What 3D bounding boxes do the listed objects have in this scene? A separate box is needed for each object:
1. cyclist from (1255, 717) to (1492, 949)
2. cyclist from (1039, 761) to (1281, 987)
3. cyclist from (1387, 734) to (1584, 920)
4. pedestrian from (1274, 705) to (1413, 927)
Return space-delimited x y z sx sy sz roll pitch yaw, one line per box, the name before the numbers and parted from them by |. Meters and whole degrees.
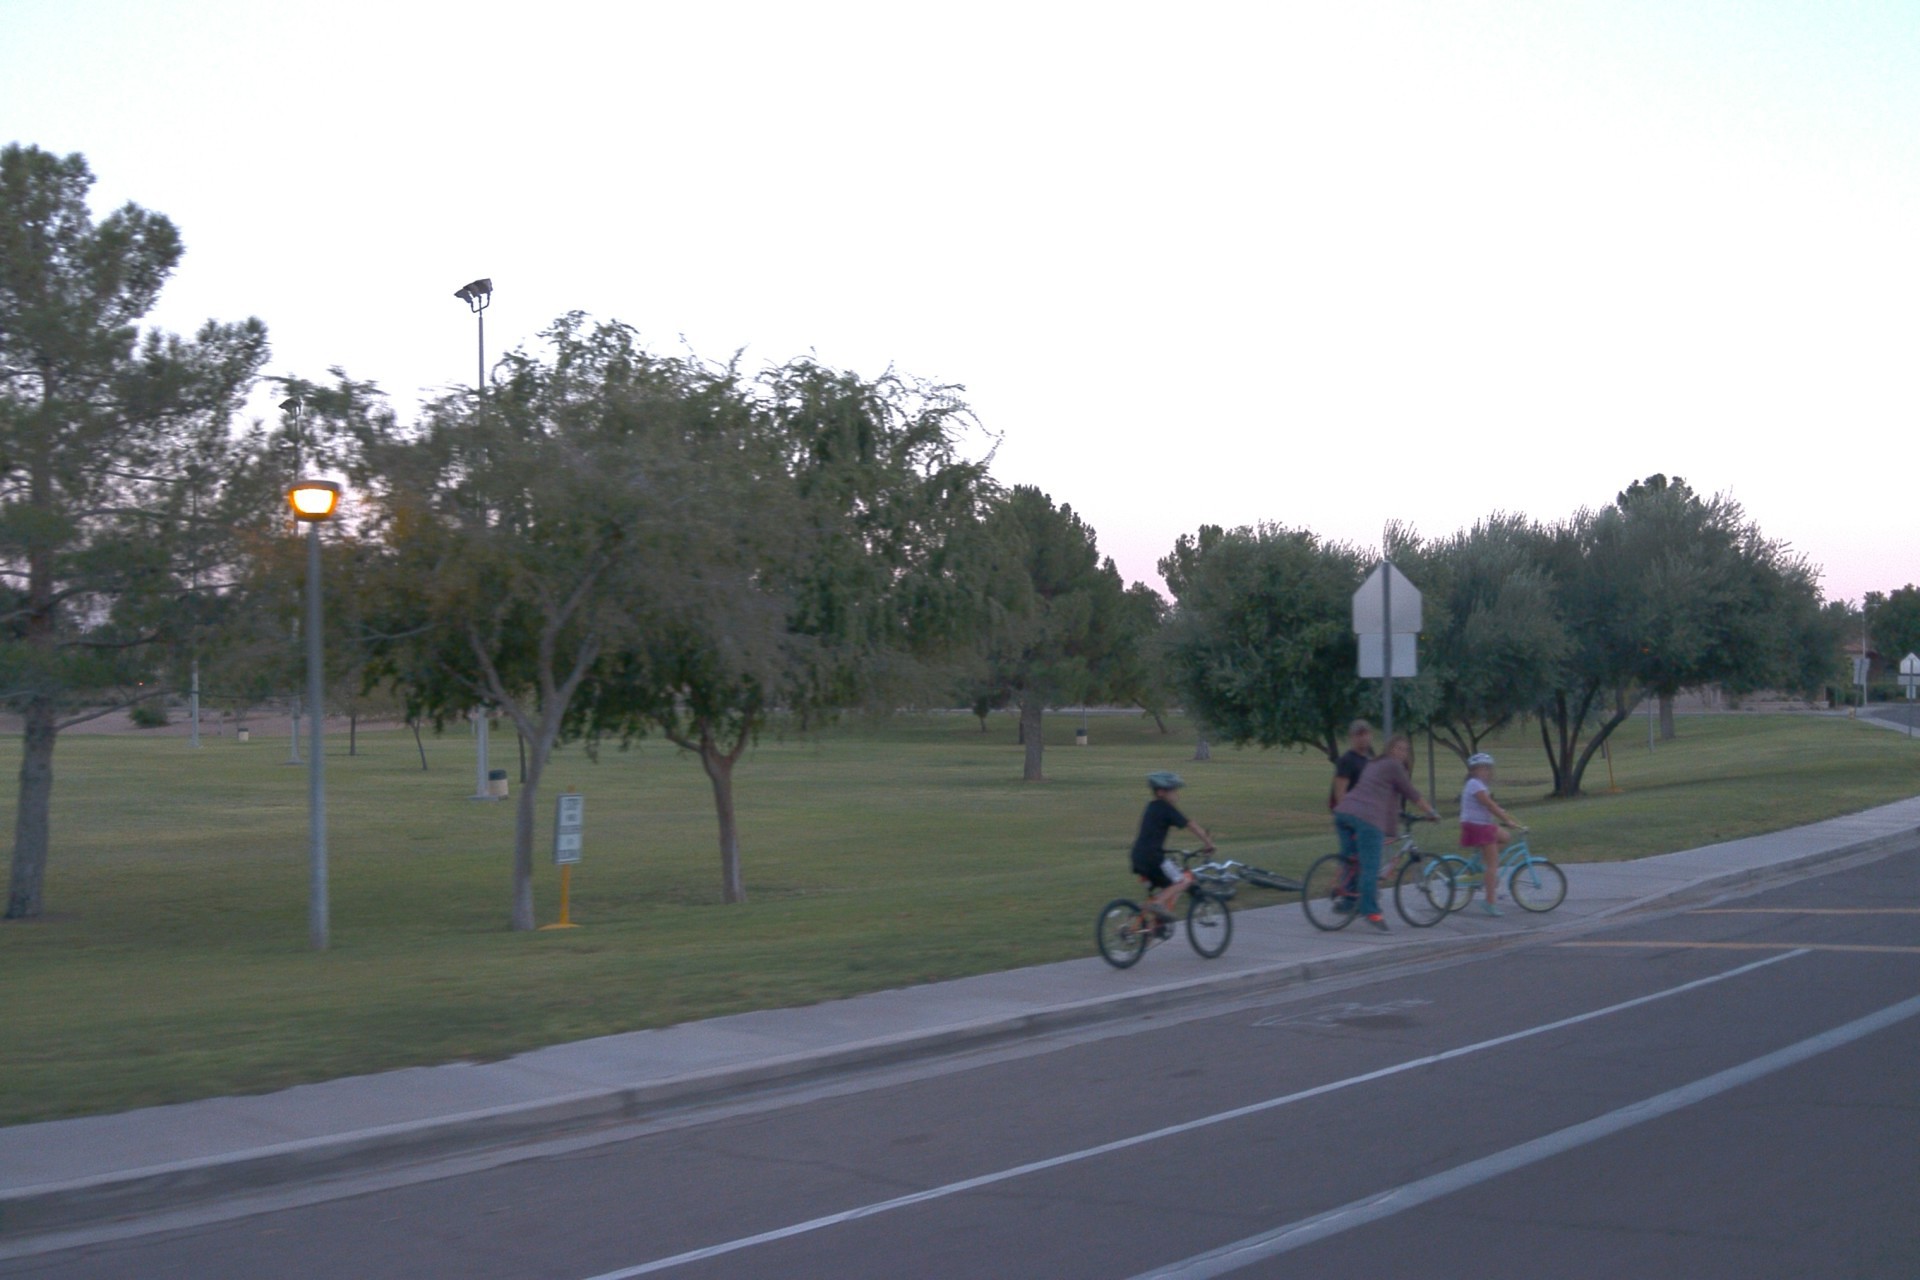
cyclist | 3.450 1.551 17.354 1.967 1.770 0.804 1 0 -36
cyclist | 1.455 1.650 15.110 1.641 1.460 0.772 1 0 -37
cyclist | 4.782 1.683 19.047 1.578 1.630 0.727 0 0 -8
pedestrian | 3.348 1.505 18.227 0.835 1.840 0.887 0 0 44
